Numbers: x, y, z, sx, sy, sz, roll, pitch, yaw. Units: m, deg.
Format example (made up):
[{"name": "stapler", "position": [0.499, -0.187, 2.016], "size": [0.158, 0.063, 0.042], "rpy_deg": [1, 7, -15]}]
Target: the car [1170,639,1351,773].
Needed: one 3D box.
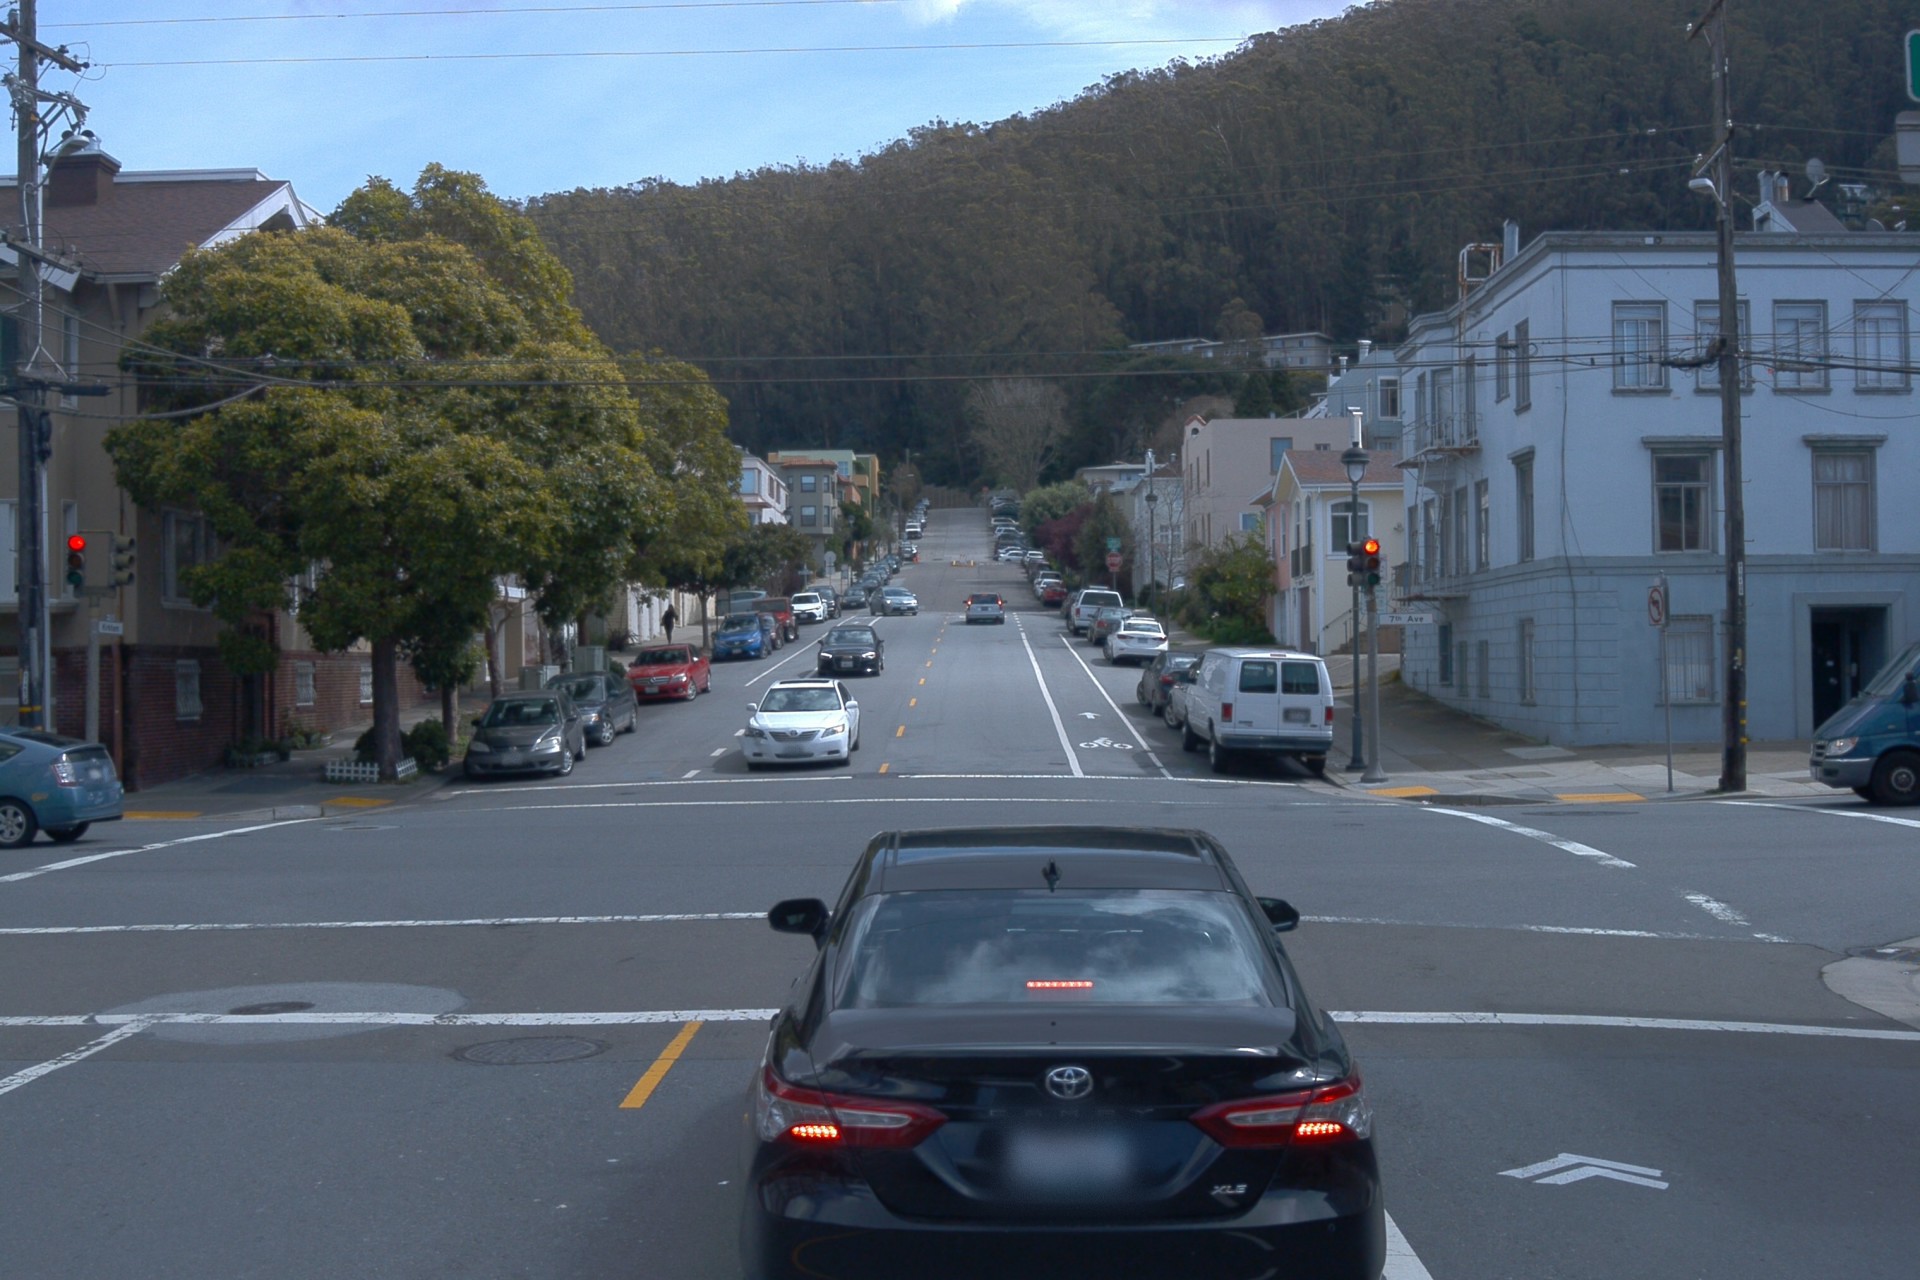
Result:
[{"name": "car", "position": [5.314, 1.112, 37.225], "size": [2.299, 2.250, 5.313], "rpy_deg": [0, 0, -2]}]

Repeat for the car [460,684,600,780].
[{"name": "car", "position": [-7.707, 1.616, 37.254], "size": [1.836, 1.560, 4.133], "rpy_deg": [0, 0, -3]}]

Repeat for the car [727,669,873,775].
[{"name": "car", "position": [-2.840, 1.438, 37.693], "size": [2.209, 1.750, 4.541], "rpy_deg": [0, 0, 1]}]

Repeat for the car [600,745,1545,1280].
[{"name": "car", "position": [0.282, 1.304, 7.305], "size": [2.249, 1.620, 4.798], "rpy_deg": [0, 0, 0]}]
